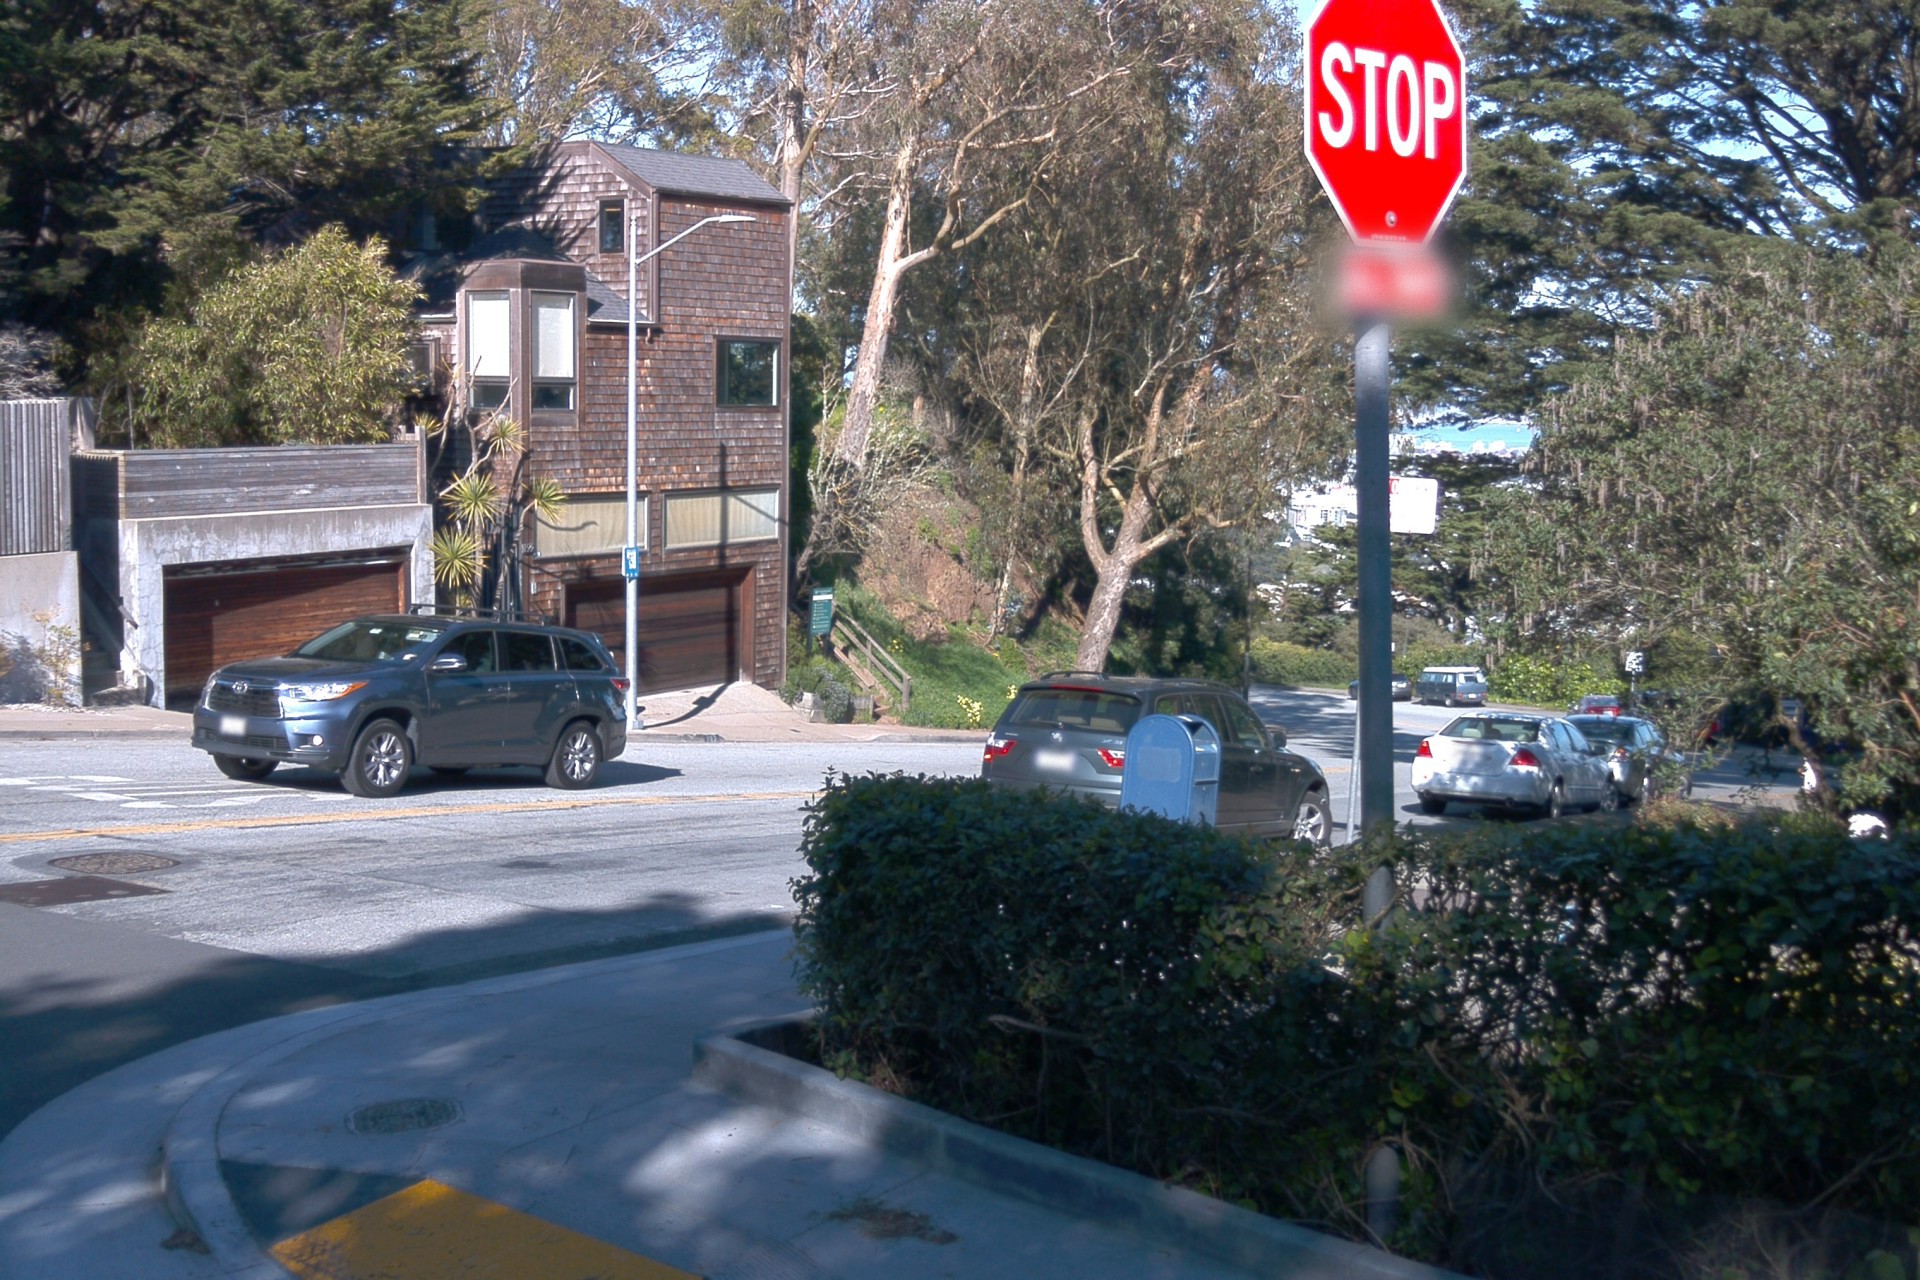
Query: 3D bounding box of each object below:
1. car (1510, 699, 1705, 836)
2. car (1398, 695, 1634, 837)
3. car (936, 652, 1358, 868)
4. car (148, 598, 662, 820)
[{"bbox_3d":[10.636,1.999,34.213,2.061,1.950,4.542,1,0,30],"label":"car"},{"bbox_3d":[7.760,1.663,28.981,1.893,1.720,4.338,1,0,33],"label":"car"},{"bbox_3d":[1.837,0.970,19.017,2.050,1.690,4.437,0,0,31],"label":"car"},{"bbox_3d":[-5.289,0.609,20.724,2.079,1.920,4.917,1,0,29],"label":"car"}]
